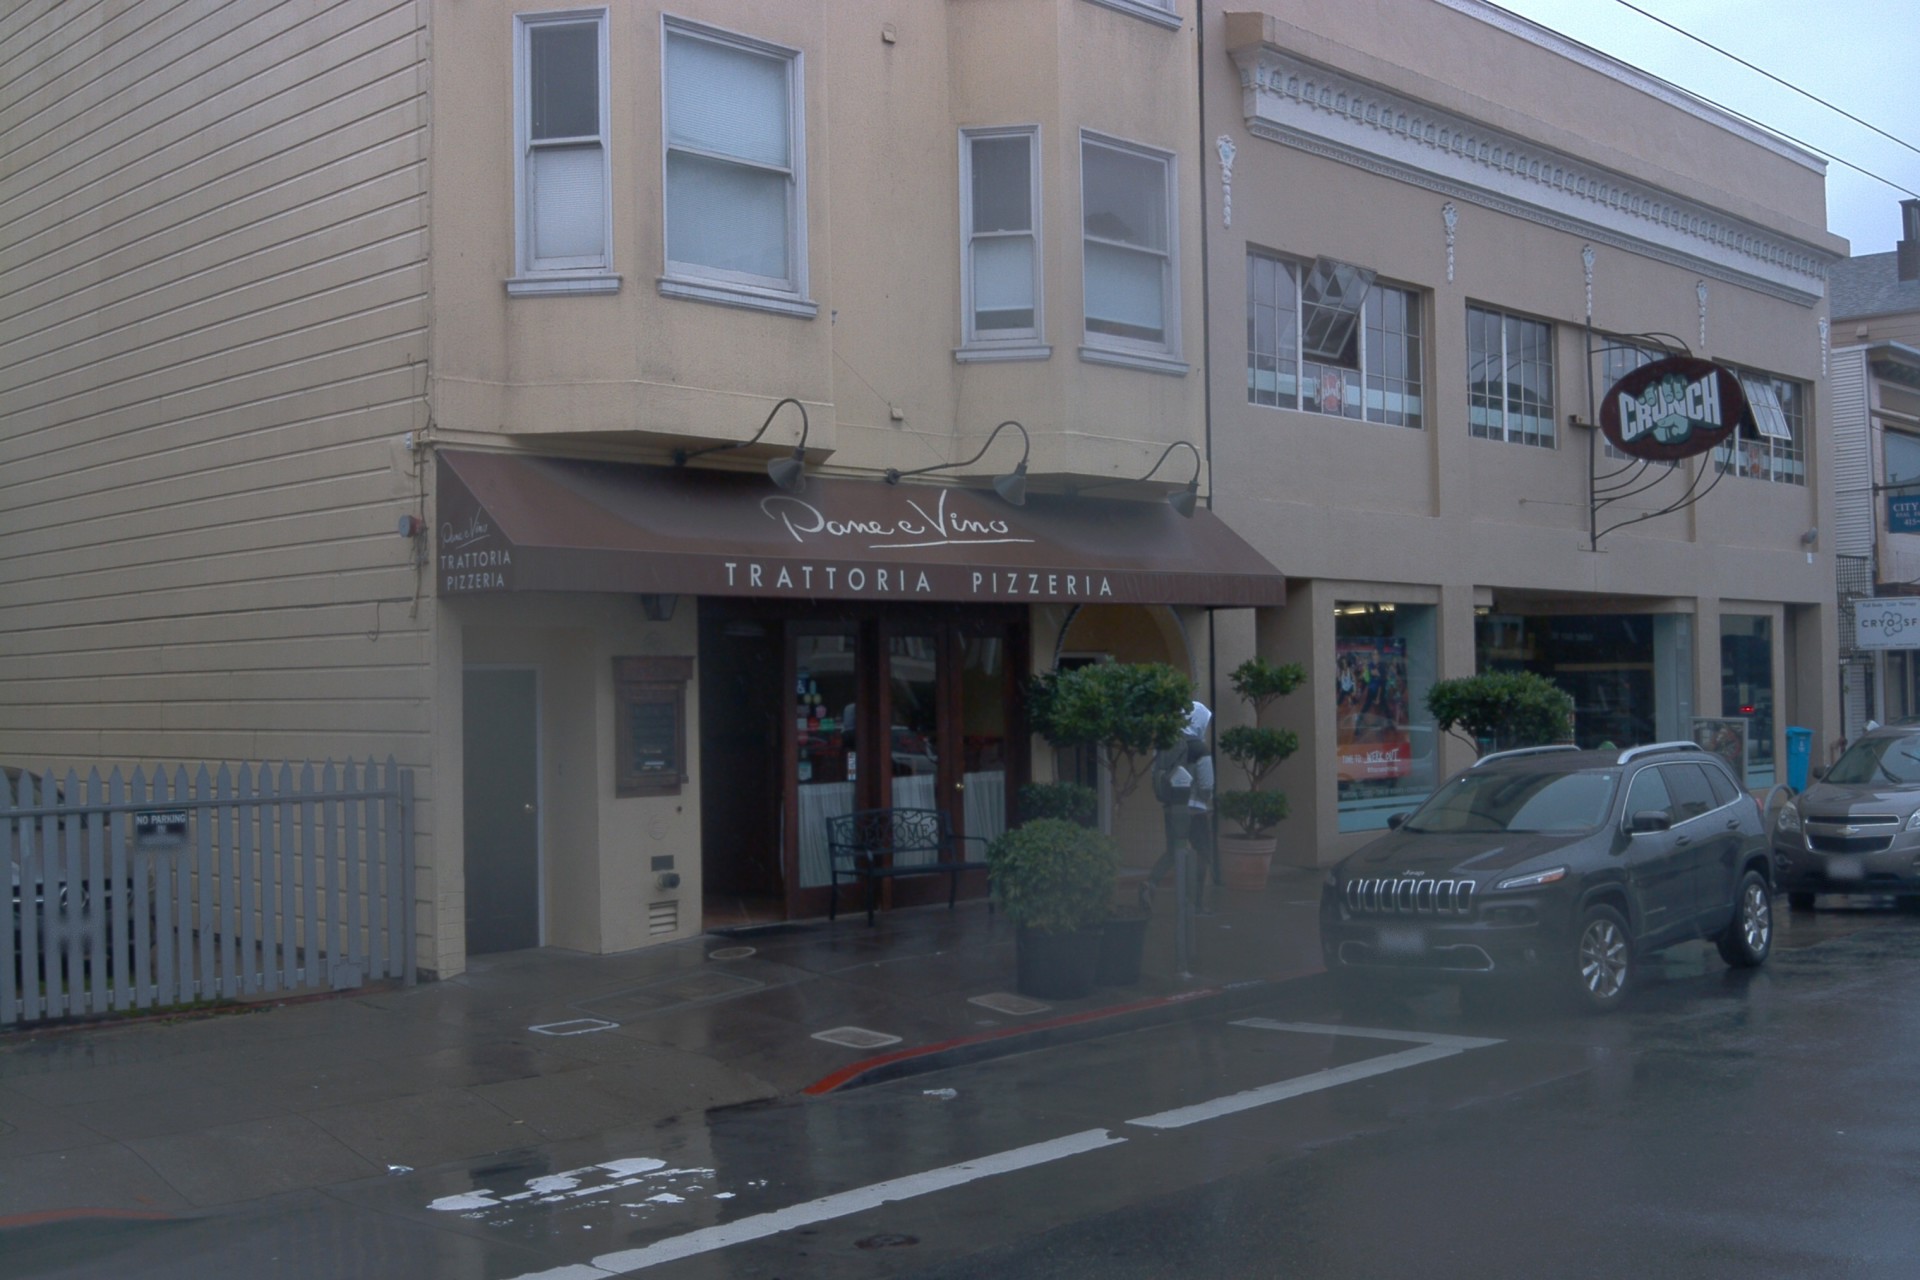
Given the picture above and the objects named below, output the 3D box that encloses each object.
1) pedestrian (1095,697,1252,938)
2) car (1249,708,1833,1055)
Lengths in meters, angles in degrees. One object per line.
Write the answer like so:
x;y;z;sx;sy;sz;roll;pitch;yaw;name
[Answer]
1.704;1.376;16.457;0.729;1.800;1.056;2;1;43;pedestrian
4.285;1.499;14.662;2.113;1.830;4.891;2;1;40;car
